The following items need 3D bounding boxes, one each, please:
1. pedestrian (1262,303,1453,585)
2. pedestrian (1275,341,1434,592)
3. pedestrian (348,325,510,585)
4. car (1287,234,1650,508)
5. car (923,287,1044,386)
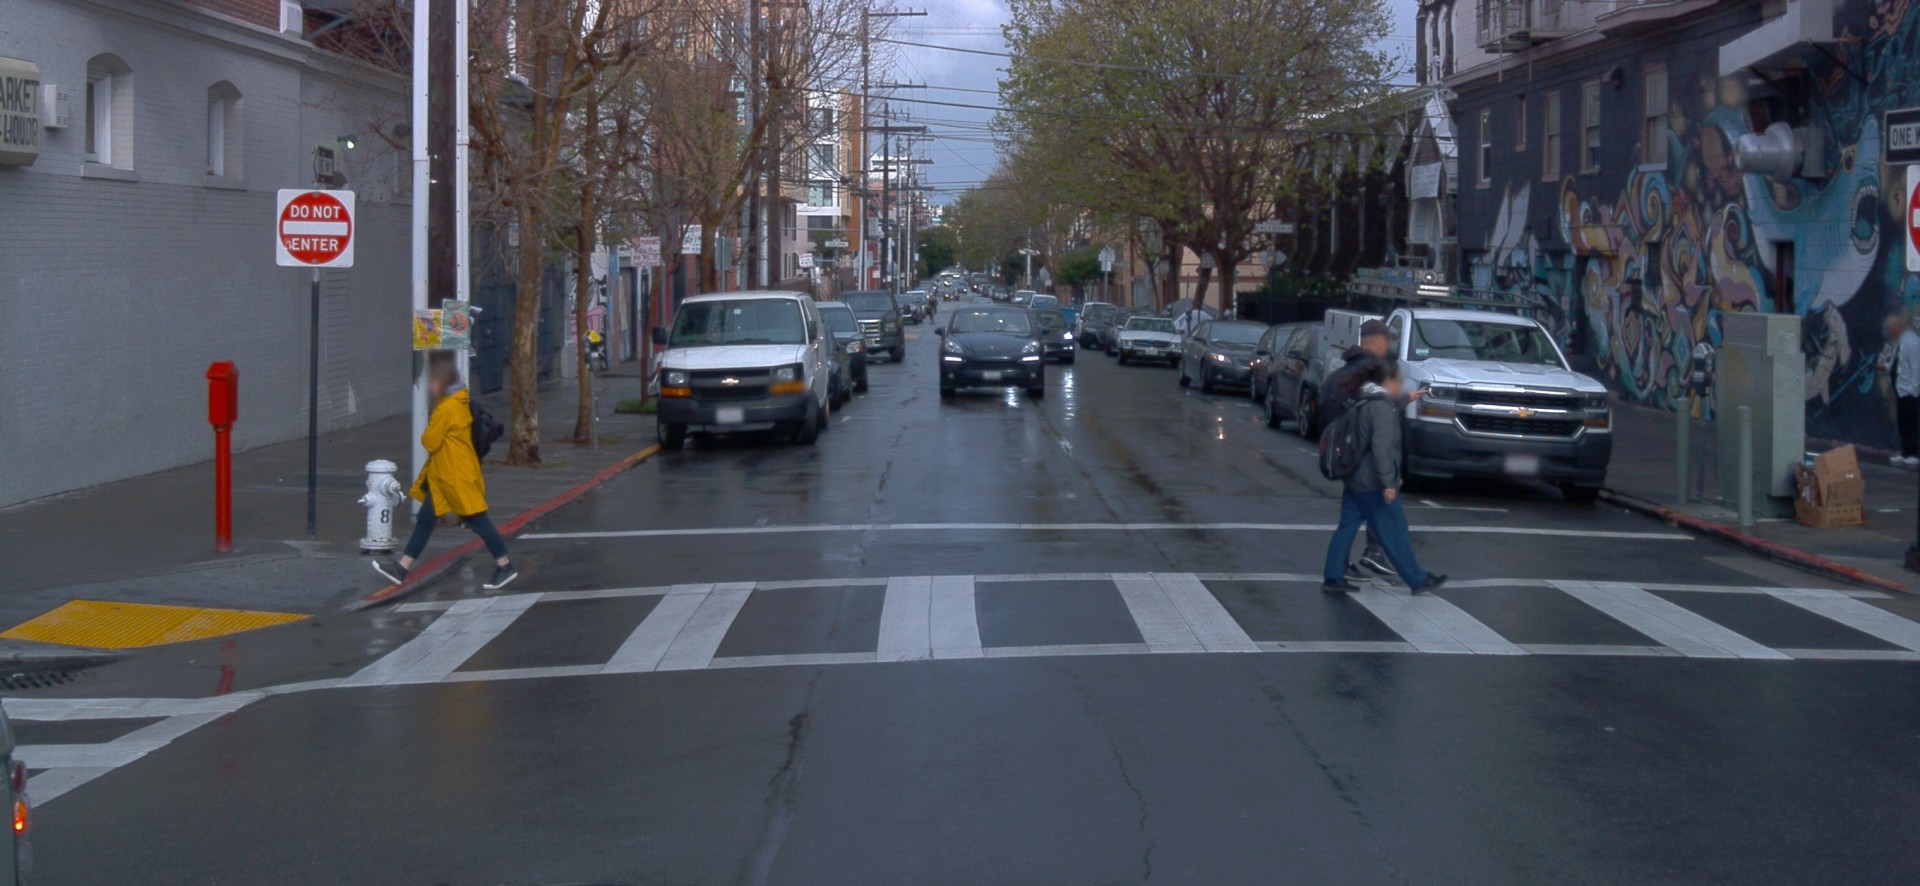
[{"bbox_3d":[2.720,-0.026,14.131,1.079,1.825,0.862,0,2,-6],"label":"pedestrian"},{"bbox_3d":[2.554,0.127,13.376,0.831,1.526,0.805,0,3,-5],"label":"pedestrian"},{"bbox_3d":[-3.771,0.057,14.661,1.043,1.746,0.762,0,2,-9],"label":"pedestrian"},{"bbox_3d":[5.251,-0.990,22.307,2.330,2.426,6.284,0,6,-1],"label":"car"},{"bbox_3d":[0.441,-2.041,38.297,2.125,1.531,4.428,0,6,1],"label":"car"}]
